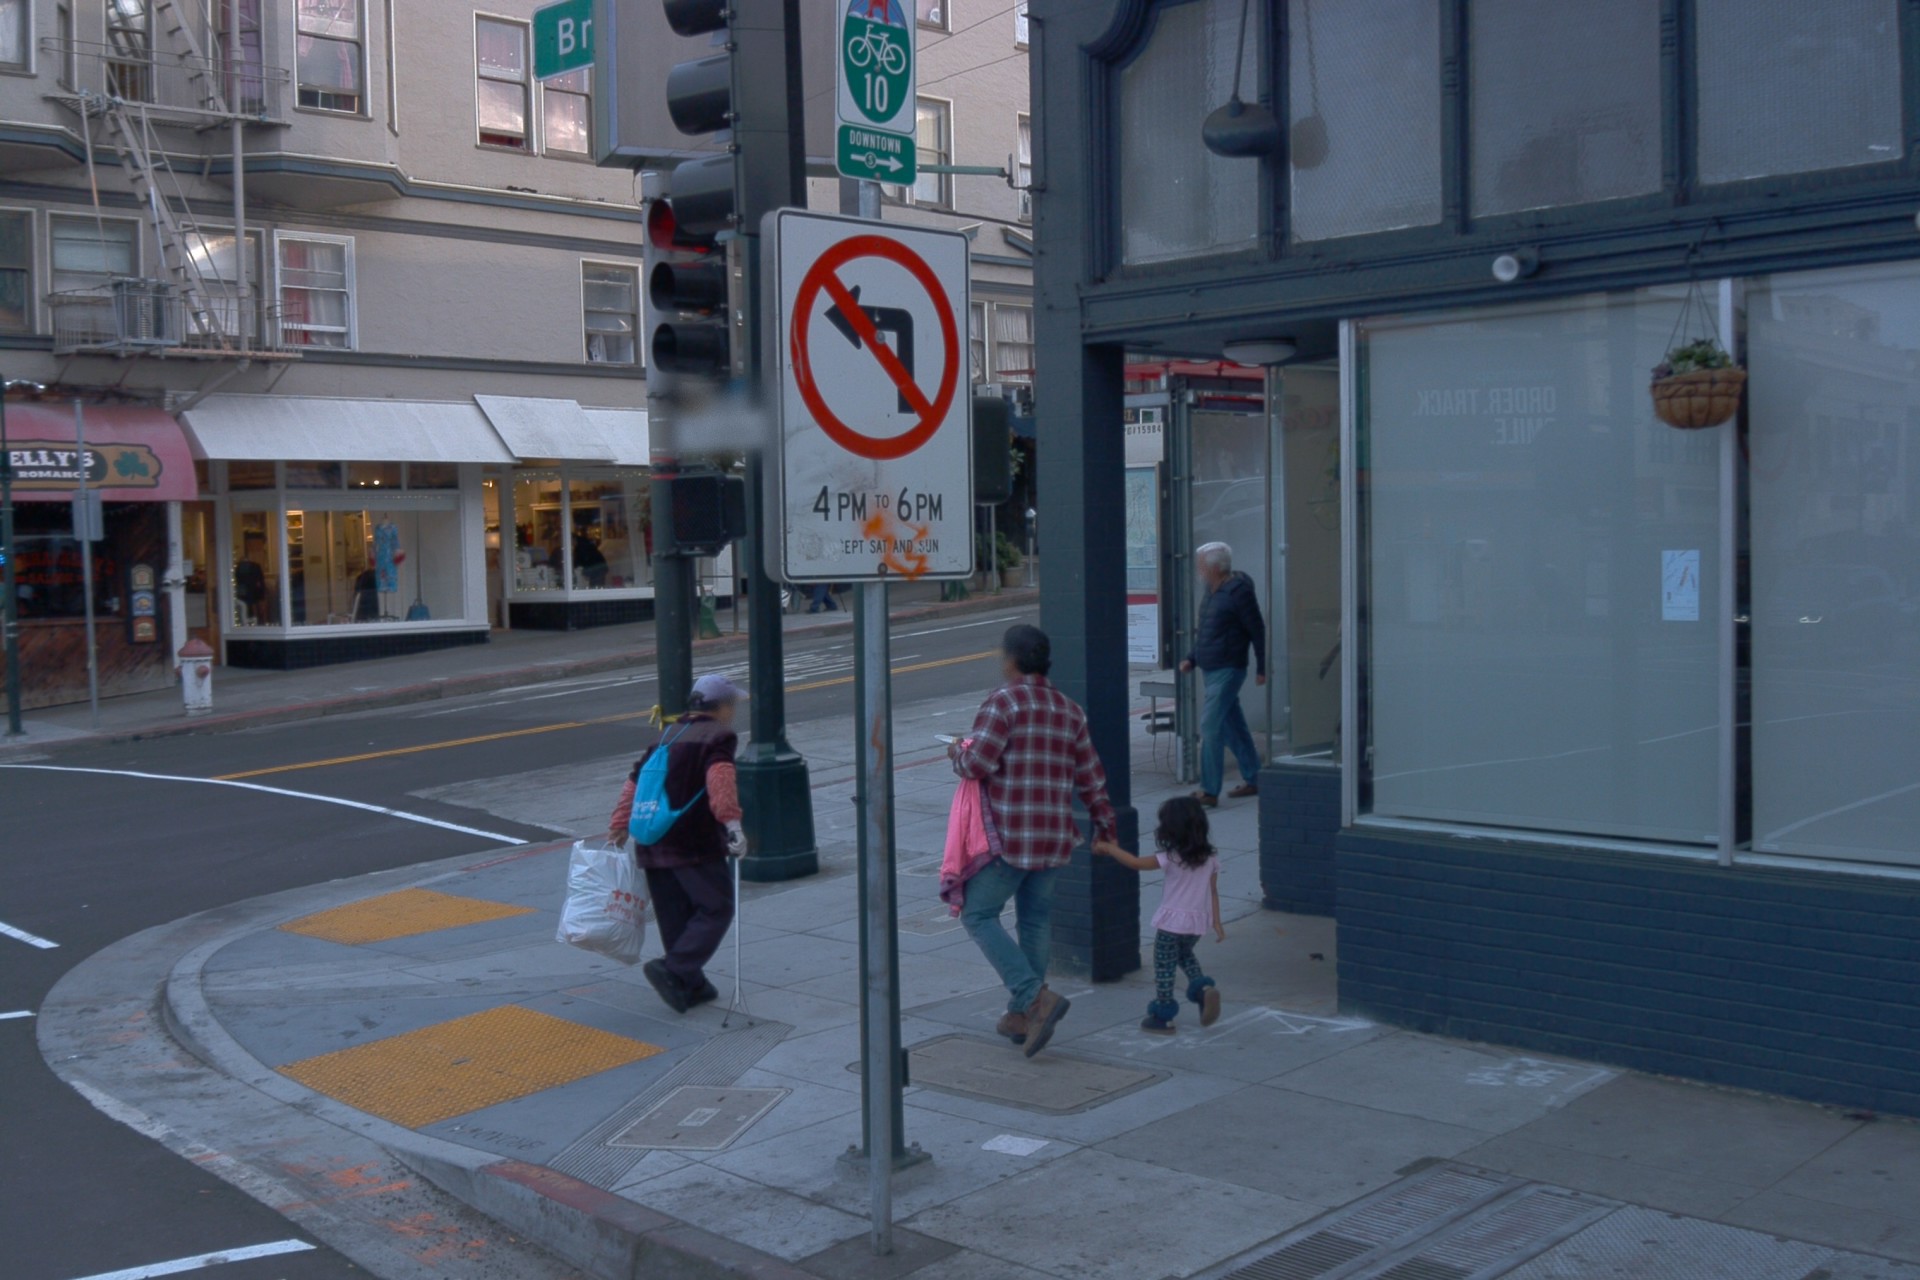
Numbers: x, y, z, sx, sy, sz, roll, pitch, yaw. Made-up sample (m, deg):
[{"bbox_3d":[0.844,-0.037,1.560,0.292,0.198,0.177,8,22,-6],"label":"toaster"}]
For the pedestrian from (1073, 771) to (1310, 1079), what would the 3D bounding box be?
[{"bbox_3d":[0.932,1.123,8.339,0.659,1.120,0.695,0,0,-31],"label":"pedestrian"}]

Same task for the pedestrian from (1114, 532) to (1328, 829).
[{"bbox_3d":[1.738,0.256,13.731,1.078,1.890,0.897,0,1,-31],"label":"pedestrian"}]

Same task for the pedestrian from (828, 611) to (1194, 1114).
[{"bbox_3d":[0.192,0.813,8.253,0.954,1.840,1.114,0,1,-39],"label":"pedestrian"}]

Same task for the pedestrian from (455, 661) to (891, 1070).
[{"bbox_3d":[-1.289,0.922,9.277,1.353,1.630,1.390,1,1,42],"label":"pedestrian"}]
